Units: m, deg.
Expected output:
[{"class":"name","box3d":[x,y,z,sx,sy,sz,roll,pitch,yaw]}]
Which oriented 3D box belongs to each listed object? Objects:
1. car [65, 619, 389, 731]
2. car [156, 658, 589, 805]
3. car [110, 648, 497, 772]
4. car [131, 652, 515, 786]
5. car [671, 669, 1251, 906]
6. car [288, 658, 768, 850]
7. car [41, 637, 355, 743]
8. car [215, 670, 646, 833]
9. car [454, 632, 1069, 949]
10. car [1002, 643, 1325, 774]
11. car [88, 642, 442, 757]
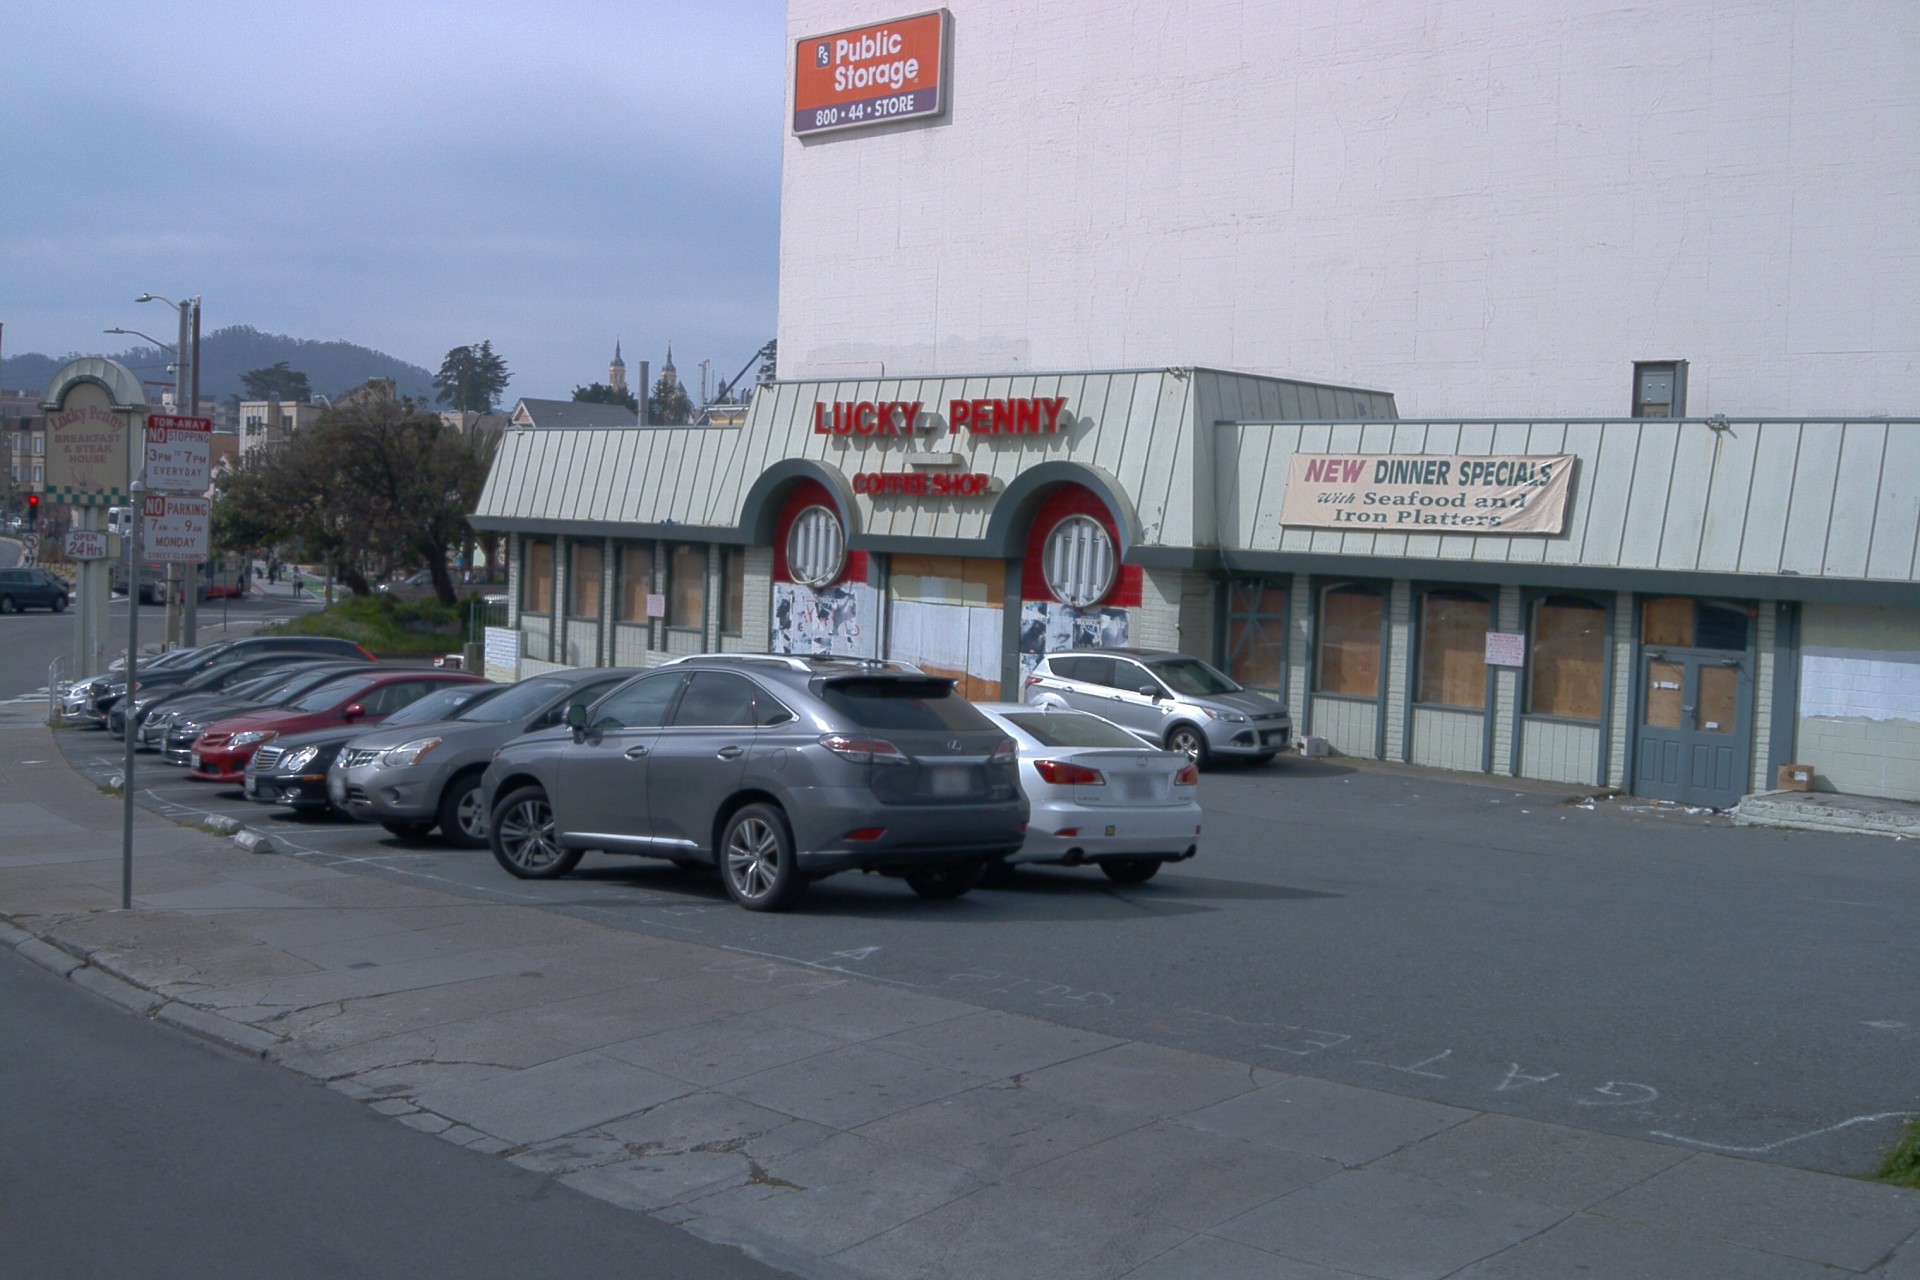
[{"class":"car","box3d":[-11.988,0.531,33.650,4.561,1.710,2.059,0,0,-43]},{"class":"car","box3d":[-6.937,1.007,24.429,4.484,1.550,2.134,0,0,-44]},{"class":"car","box3d":[-9.260,0.924,29.098,4.736,1.590,2.241,0,0,-44]},{"class":"car","box3d":[-8.251,0.962,26.723,4.343,1.580,1.994,0,0,-43]},{"class":"car","box3d":[-0.129,1.086,17.001,2.088,1.580,4.738,0,0,-44]},{"class":"car","box3d":[-4.000,0.980,19.357,1.975,1.570,4.019,1,0,44]},{"class":"car","box3d":[-13.408,0.833,36.177,4.757,1.740,2.072,0,0,-43]},{"class":"car","box3d":[-5.548,1.105,21.741,4.029,1.500,1.869,0,0,-45]},{"class":"car","box3d":[-1.581,0.925,14.909,2.065,1.920,4.493,0,0,-45]},{"class":"car","box3d":[3.013,0.963,31.025,2.134,1.790,4.557,0,0,-44]},{"class":"car","box3d":[-10.612,0.854,31.421,4.651,1.610,2.192,0,0,-43]}]
